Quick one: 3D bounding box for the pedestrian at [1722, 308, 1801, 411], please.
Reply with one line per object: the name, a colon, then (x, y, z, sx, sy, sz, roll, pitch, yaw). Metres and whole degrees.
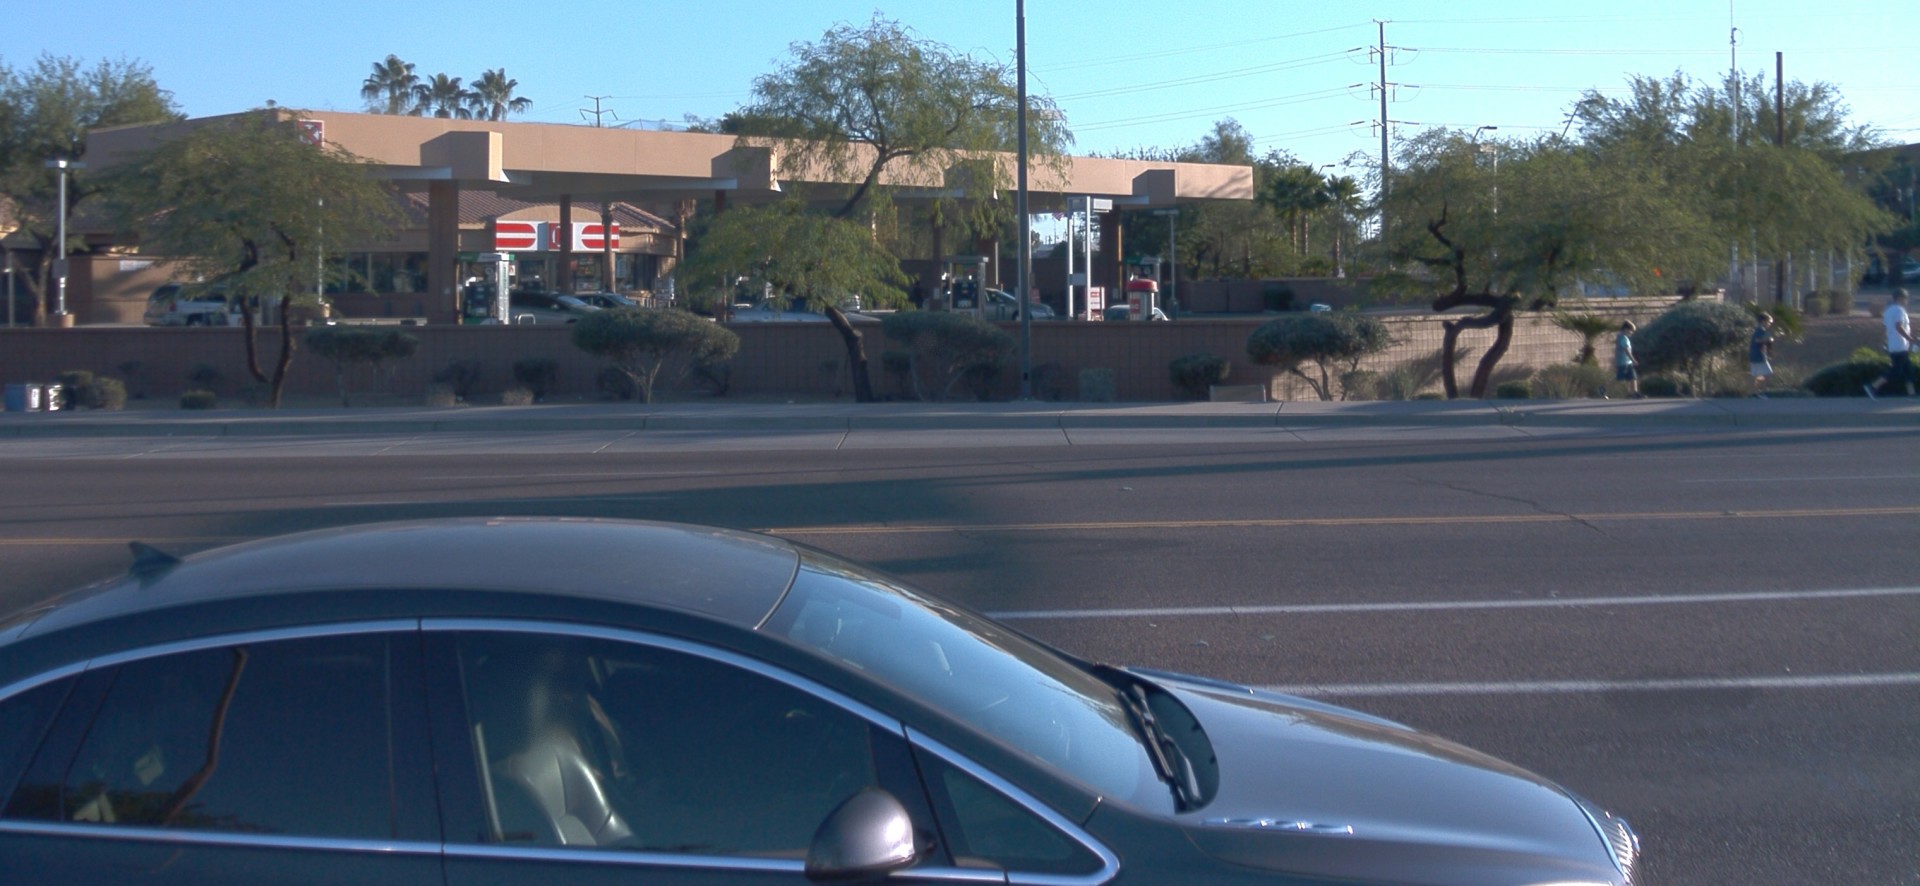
pedestrian: (11.940, -1.252, 30.963, 0.906, 1.490, 0.827, 0, 1, 5)

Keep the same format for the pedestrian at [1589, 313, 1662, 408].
pedestrian: (9.847, -1.230, 30.747, 0.912, 1.360, 0.780, 0, 1, 9)
